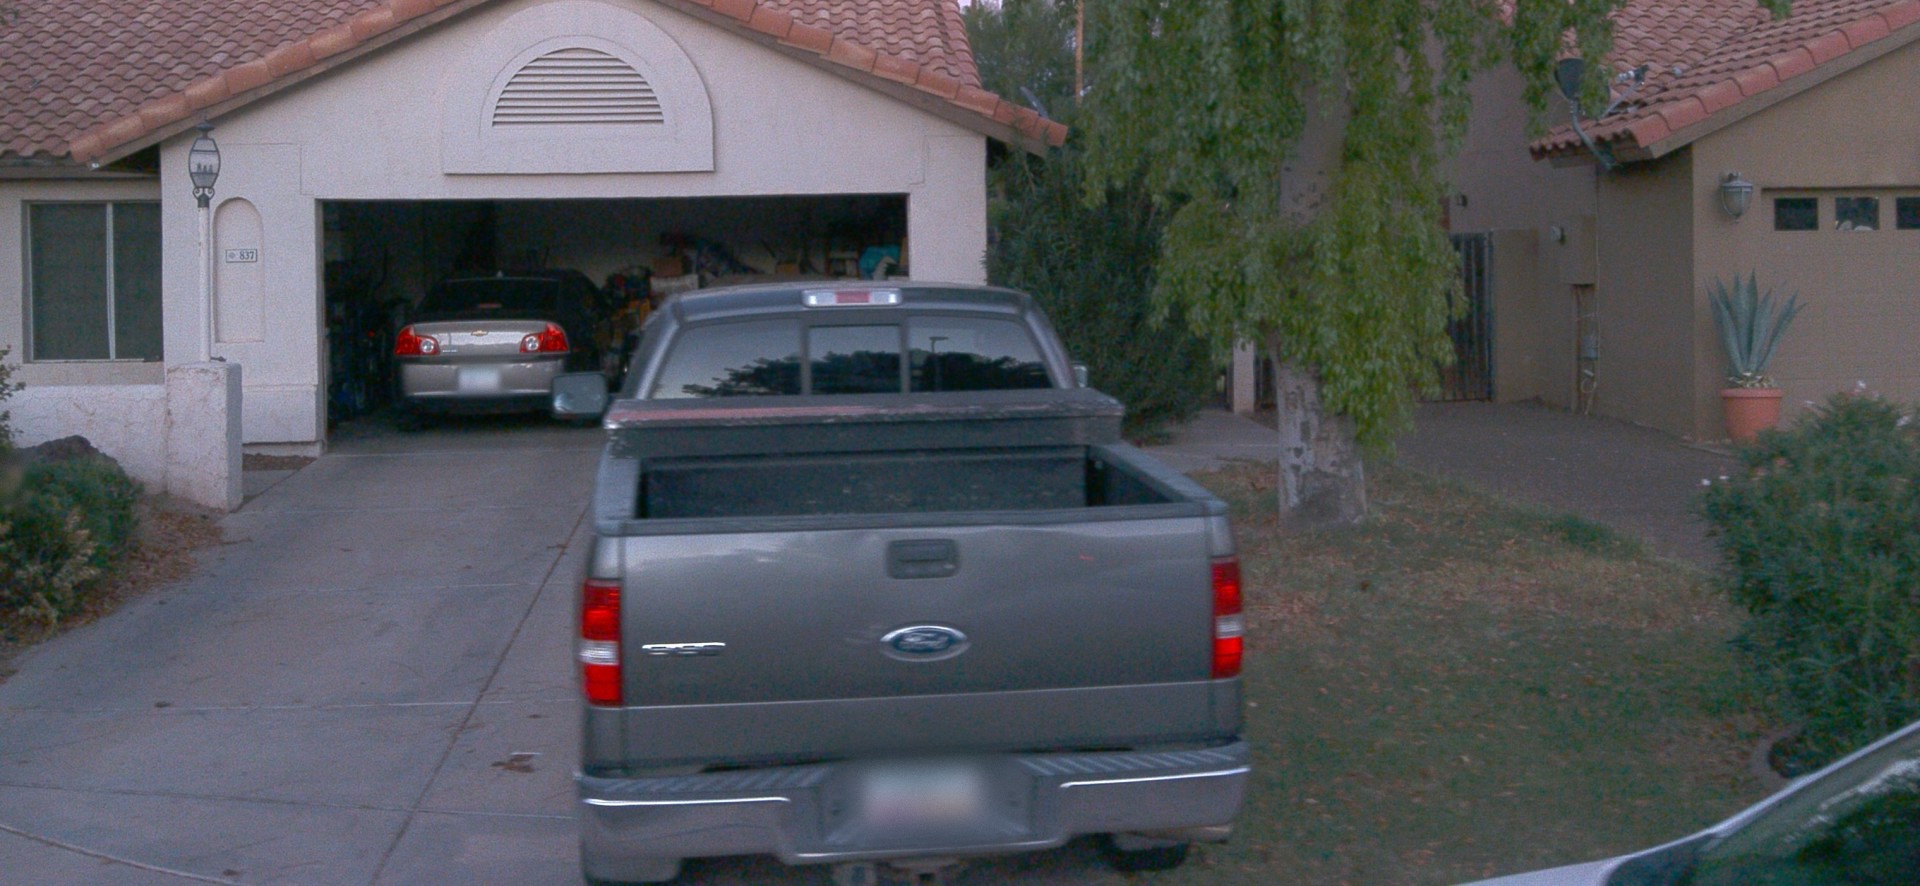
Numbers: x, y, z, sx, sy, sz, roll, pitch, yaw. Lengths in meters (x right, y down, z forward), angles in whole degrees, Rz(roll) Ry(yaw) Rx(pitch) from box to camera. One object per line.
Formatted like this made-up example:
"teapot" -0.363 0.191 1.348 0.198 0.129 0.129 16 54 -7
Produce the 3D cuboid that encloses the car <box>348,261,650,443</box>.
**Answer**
"car" -4.257 -0.973 19.875 2.004 1.485 4.483 -1 5 -2

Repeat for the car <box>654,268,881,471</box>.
"car" -1.780 -0.824 19.953 1.907 1.650 4.617 -1 5 -4

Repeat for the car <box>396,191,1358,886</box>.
"car" -0.538 0.124 8.310 2.507 2.093 5.855 -1 5 -7
